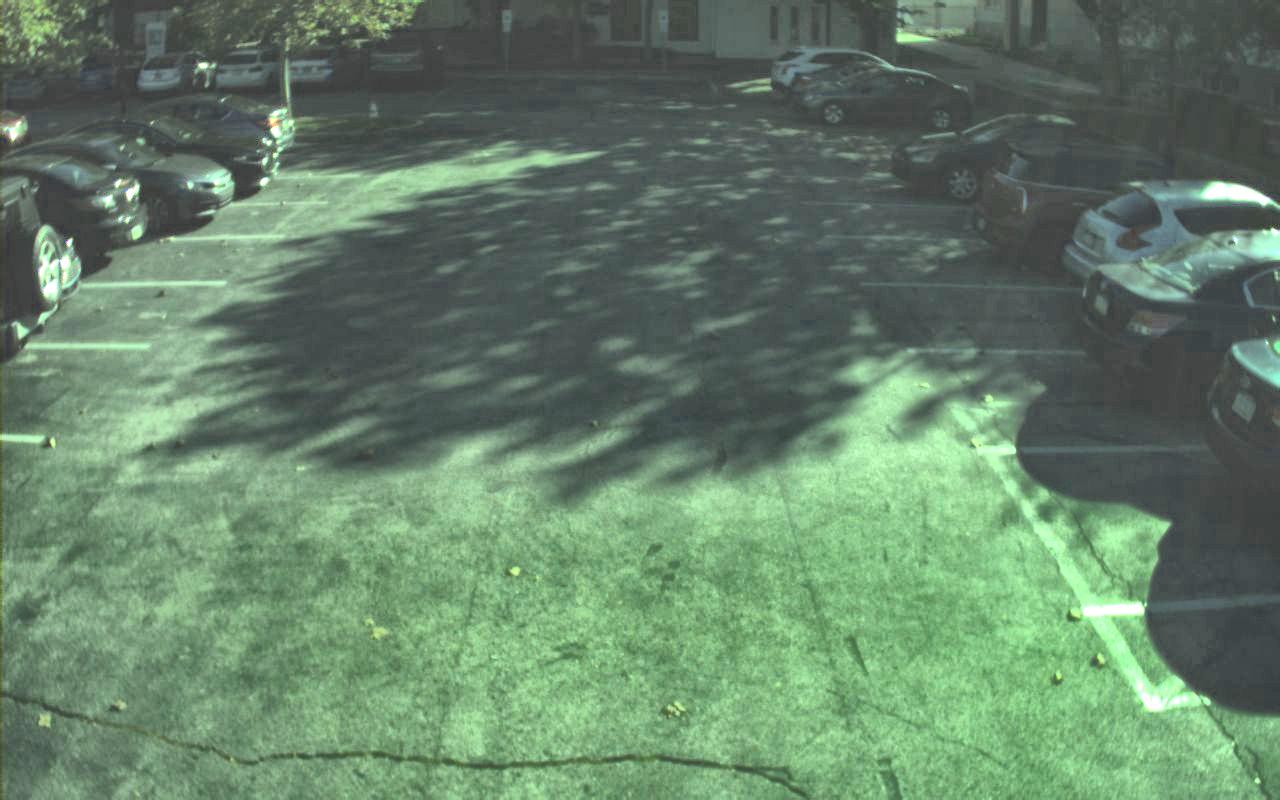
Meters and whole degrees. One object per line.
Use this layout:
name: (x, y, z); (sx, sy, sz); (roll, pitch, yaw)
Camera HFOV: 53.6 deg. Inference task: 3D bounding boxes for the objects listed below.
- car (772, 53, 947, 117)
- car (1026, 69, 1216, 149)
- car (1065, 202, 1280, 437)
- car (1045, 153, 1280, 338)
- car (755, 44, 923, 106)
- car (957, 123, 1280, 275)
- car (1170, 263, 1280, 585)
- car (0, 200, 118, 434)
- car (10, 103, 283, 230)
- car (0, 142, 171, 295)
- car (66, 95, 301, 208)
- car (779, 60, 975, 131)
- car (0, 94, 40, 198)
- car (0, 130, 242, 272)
car: (5.764, -8.307, 32.300); (4.340, 1.558, 1.931); (-2, 16, -2)
car: (11.696, -7.035, 28.264); (4.481, 1.600, 1.929); (-1, 16, 0)
car: (6.042, -0.711, 9.914); (4.408, 1.581, 1.951); (1, 16, 6)
car: (6.707, -1.692, 12.551); (4.329, 1.621, 1.934); (0, 16, 3)
car: (5.626, -9.220, 34.734); (4.489, 1.647, 1.973); (-2, 16, -3)
car: (6.449, -2.599, 15.128); (4.492, 1.619, 1.966); (-2, 16, -4)
car: (6.122, 0.032, 7.530); (4.410, 1.591, 1.954); (-2, 16, -3)
car: (-7.449, -0.956, 10.845); (4.441, 1.679, 1.985); (6, 18, 21)
car: (-8.303, -3.893, 19.455); (4.398, 1.604, 1.953); (-1, 16, -1)
car: (-8.570, -2.362, 14.912); (4.372, 1.614, 1.967); (2, 17, 11)
car: (-8.668, -4.717, 22.294); (4.332, 1.615, 1.961); (-3, 16, -8)
car: (5.778, -7.480, 30.014); (4.599, 1.602, 1.975); (-1, 16, 0)
car: (-16.270, -5.735, 24.533); (4.810, 1.733, 2.050); (-1, 16, -1)
car: (-8.289, -2.966, 17.198); (4.414, 1.576, 1.933); (-2, 16, -3)
